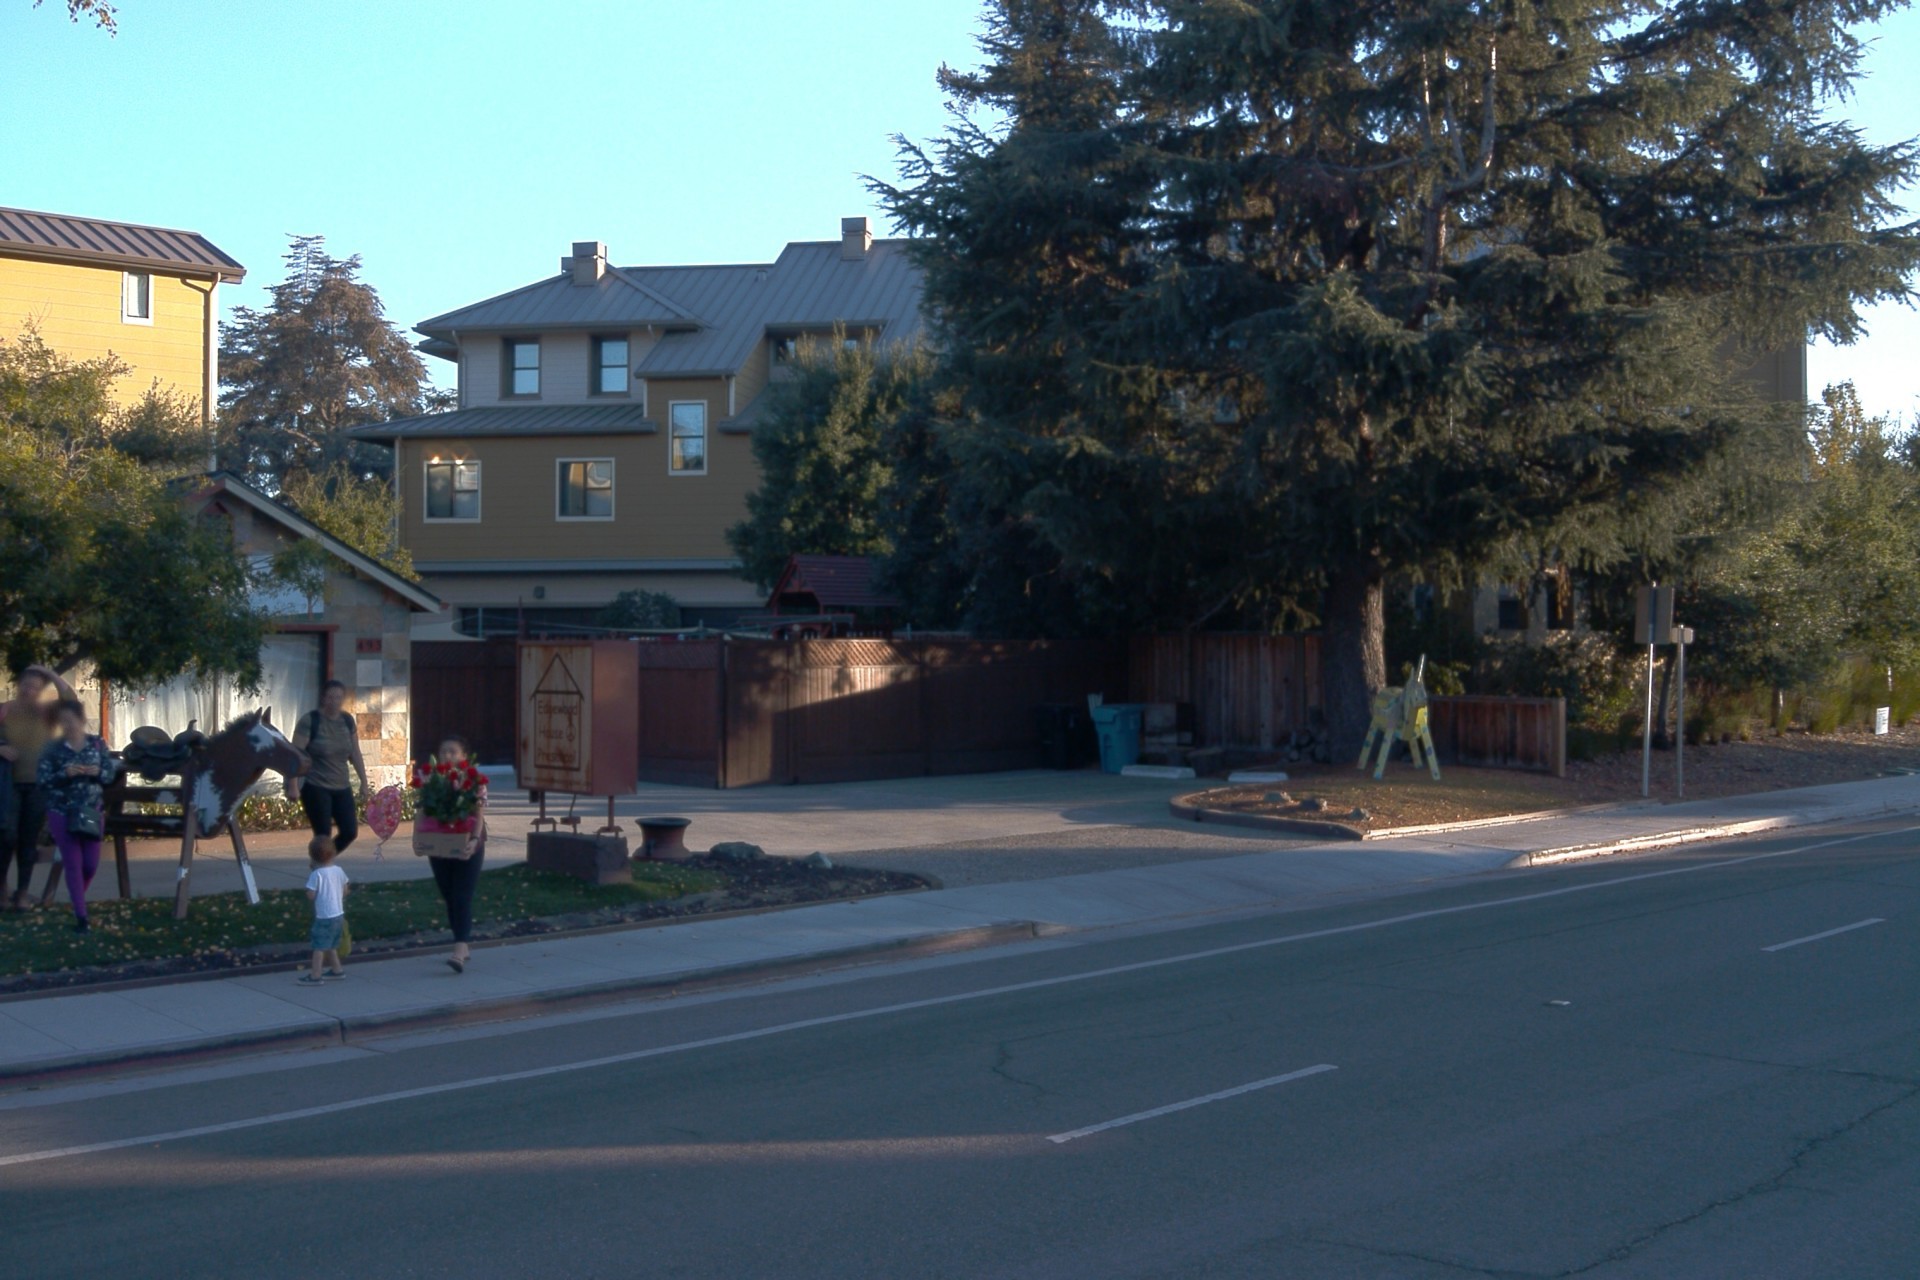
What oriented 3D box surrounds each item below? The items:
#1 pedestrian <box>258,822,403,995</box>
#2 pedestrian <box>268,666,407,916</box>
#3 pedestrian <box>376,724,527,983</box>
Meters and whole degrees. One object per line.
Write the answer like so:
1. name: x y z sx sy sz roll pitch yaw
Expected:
1. pedestrian: -4.059 1.718 13.389 0.633 1.010 0.627 0 0 23
2. pedestrian: -4.723 1.115 15.719 0.753 1.810 0.812 0 0 -39
3. pedestrian: -3.402 1.405 13.938 0.731 1.630 0.999 0 0 2
